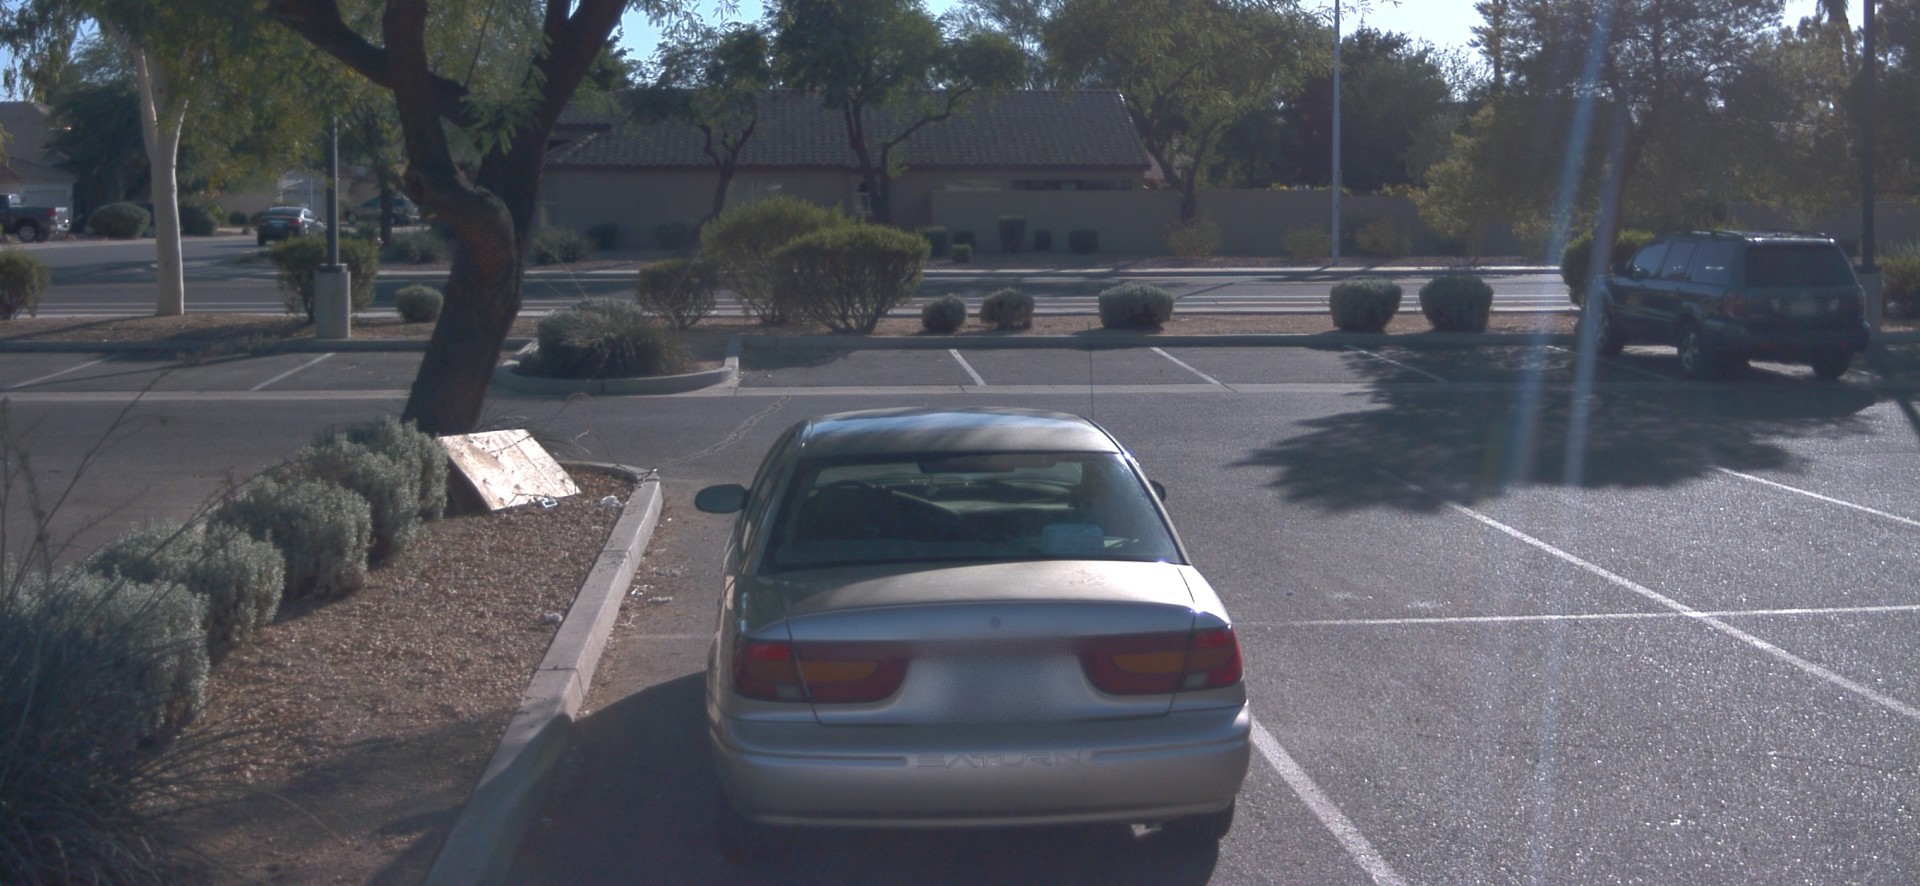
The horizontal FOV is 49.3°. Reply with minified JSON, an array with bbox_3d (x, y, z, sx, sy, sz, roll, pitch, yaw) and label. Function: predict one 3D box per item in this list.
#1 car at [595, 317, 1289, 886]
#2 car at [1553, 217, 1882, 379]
[{"bbox_3d":[-0.199,0.412,8.146,1.951,1.597,4.525,0,5,-4],"label":"car"},{"bbox_3d":[9.404,-1.911,26.453,2.103,1.842,4.682,0,5,-6],"label":"car"}]
